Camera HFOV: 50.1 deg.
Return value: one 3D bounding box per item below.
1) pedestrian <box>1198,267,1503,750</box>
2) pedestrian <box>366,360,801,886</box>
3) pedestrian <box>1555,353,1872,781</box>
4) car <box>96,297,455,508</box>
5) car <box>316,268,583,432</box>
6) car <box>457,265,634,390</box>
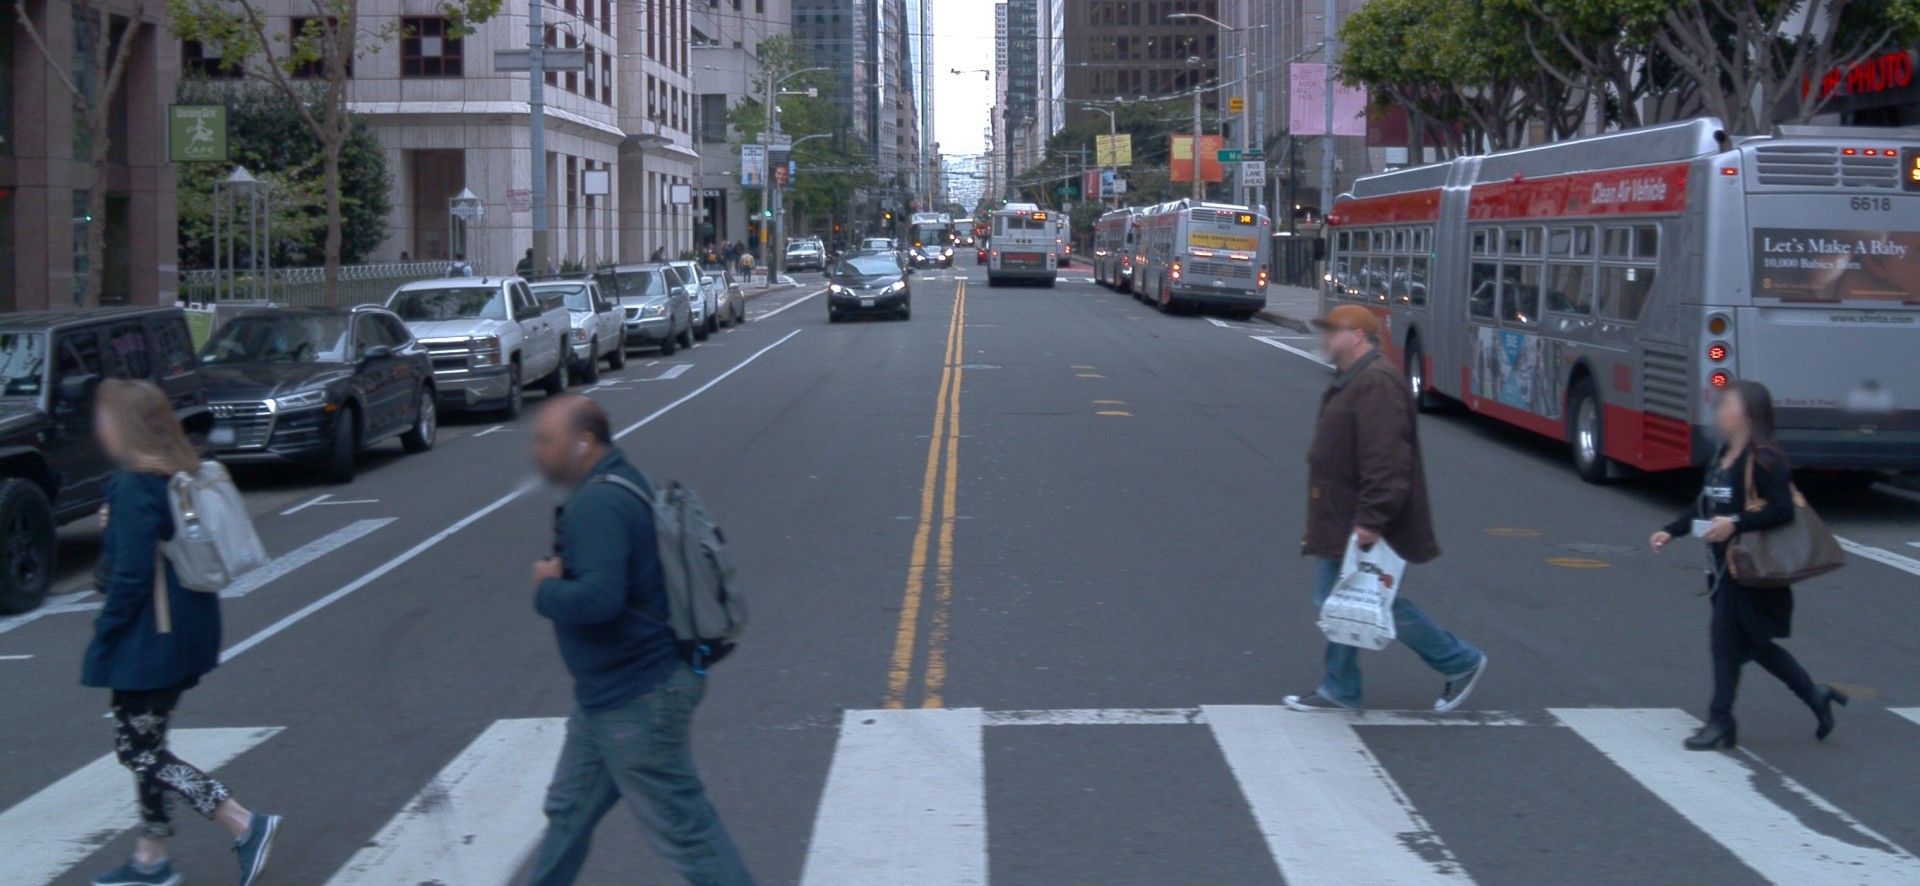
[{"bbox_3d":[1.658,0.230,8.914,1.145,1.968,0.957,0,1,0],"label":"pedestrian"},{"bbox_3d":[-1.002,0.684,5.694,1.004,1.775,0.835,0,1,4],"label":"pedestrian"},{"bbox_3d":[3.059,0.462,8.430,0.966,1.605,0.875,0,1,-2],"label":"pedestrian"},{"bbox_3d":[-6.728,-0.528,20.785,2.114,1.763,4.588,0,5,0],"label":"car"},{"bbox_3d":[-6.737,-1.377,27.886,2.372,1.882,5.839,0,5,-2],"label":"car"},{"bbox_3d":[-6.796,-2.004,34.268,2.064,1.843,5.283,0,5,-2],"label":"car"}]
